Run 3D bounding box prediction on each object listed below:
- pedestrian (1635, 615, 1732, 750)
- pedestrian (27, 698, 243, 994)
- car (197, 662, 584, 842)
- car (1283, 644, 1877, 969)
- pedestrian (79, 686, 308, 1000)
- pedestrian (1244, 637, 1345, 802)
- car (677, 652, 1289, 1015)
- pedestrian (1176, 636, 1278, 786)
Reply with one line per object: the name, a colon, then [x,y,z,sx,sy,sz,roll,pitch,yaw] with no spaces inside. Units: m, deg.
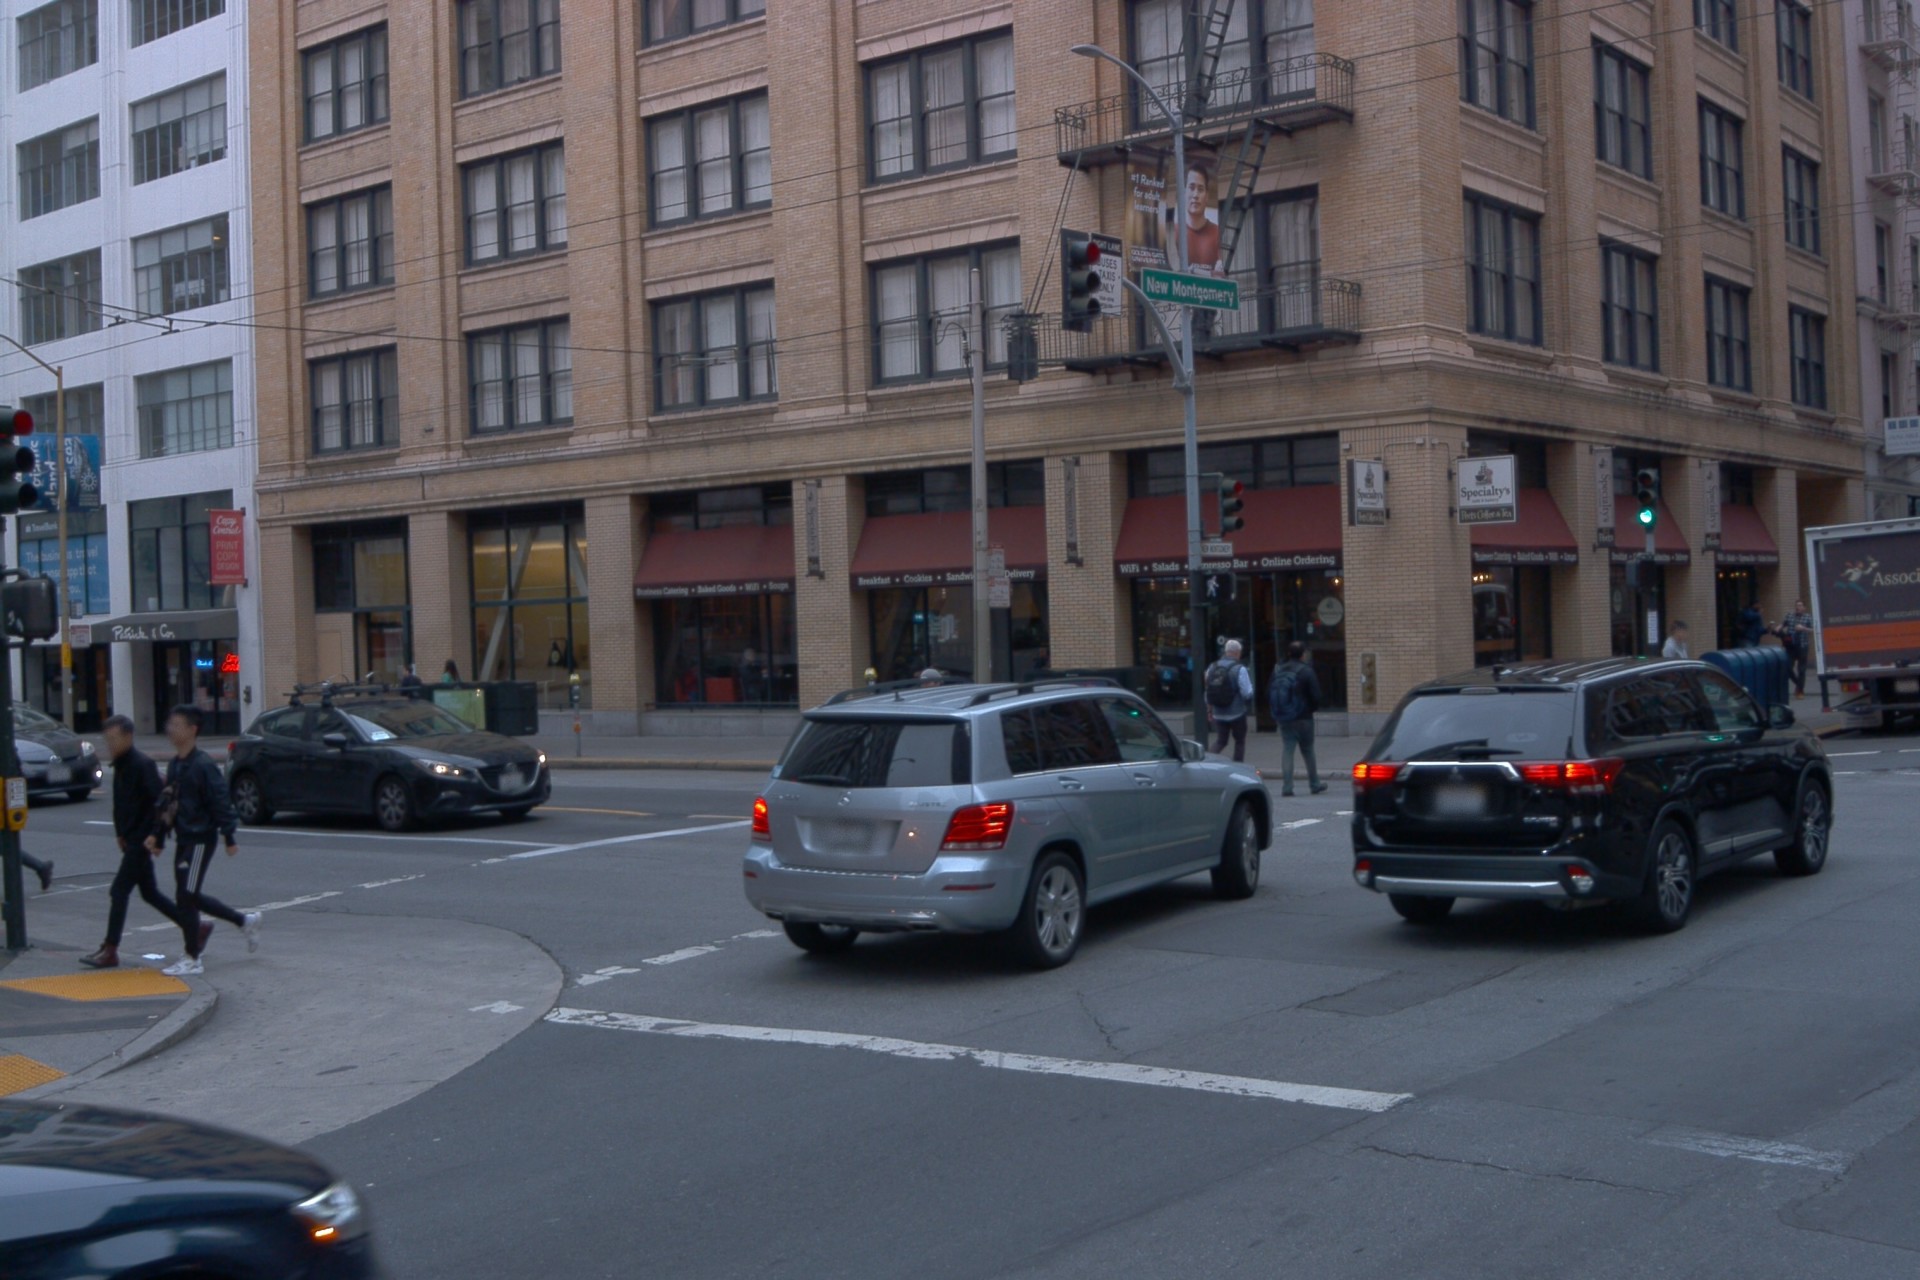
pedestrian: [9.803,0.559,27.980,0.791,1.787,0.965,-1,1,-39]
pedestrian: [-5.723,1.386,14.352,0.788,1.900,1.136,1,1,37]
car: [-6.530,1.187,23.491,4.370,1.740,2.024,1,1,38]
car: [4.333,0.925,13.876,2.126,1.690,4.752,1,1,40]
pedestrian: [-5.204,1.325,14.038,0.829,1.971,1.189,1,1,40]
pedestrian: [3.691,0.857,22.752,0.765,1.750,0.930,1,1,36]
car: [0.344,1.075,13.693,2.130,1.869,4.317,1,1,32]
pedestrian: [3.283,0.847,25.337,0.827,1.780,1.060,1,1,36]
